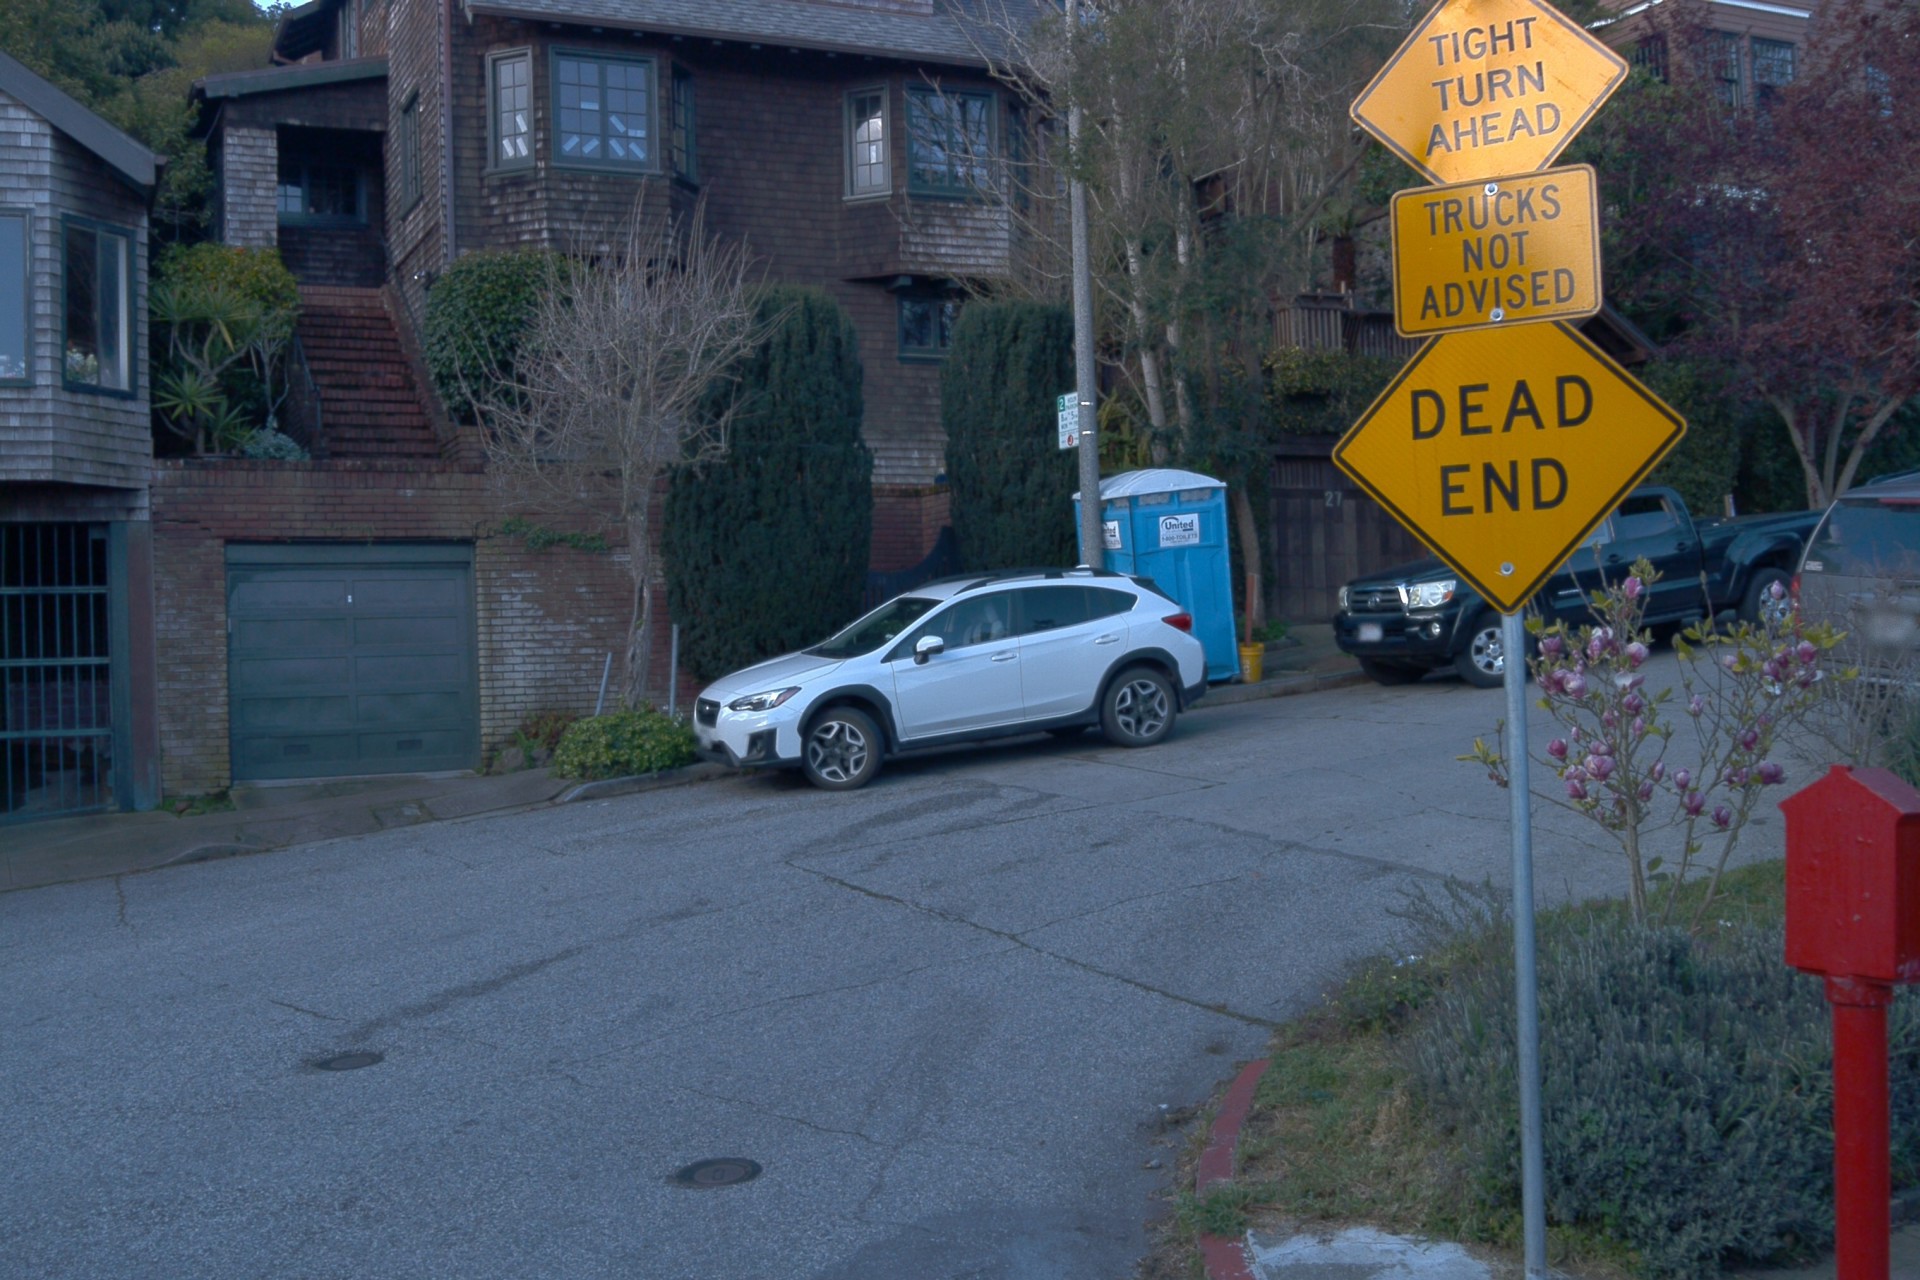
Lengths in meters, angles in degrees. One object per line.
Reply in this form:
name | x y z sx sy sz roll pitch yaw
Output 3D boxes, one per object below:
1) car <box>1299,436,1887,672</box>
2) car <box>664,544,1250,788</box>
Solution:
car | 6.484 -0.777 20.971 5.769 2.139 2.254 0 0 -27
car | -0.049 0.206 18.006 4.663 1.919 2.142 0 0 -20
